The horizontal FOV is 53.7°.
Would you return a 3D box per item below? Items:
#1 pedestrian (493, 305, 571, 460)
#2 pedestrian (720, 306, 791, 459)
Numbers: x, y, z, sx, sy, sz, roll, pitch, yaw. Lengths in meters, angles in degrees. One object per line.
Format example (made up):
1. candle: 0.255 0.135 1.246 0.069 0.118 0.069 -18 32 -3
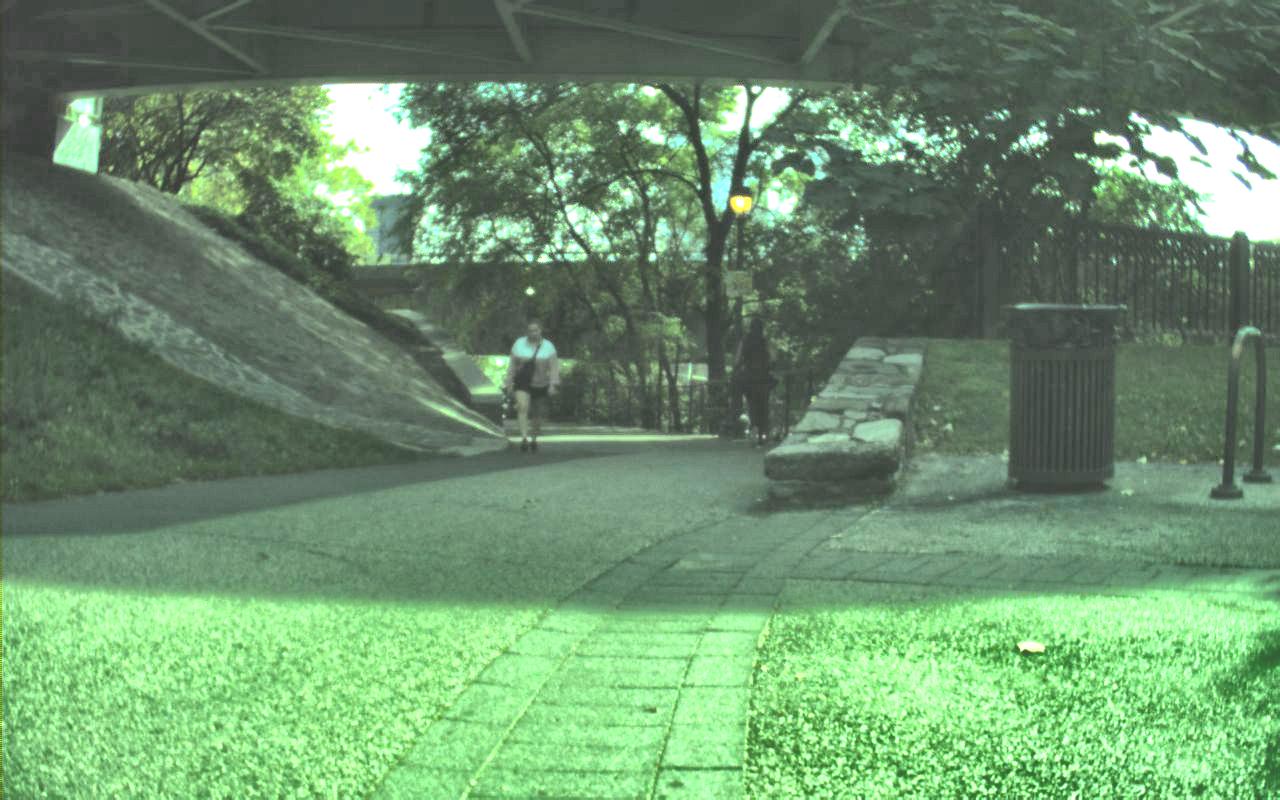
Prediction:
1. pedestrian: -1.223 -0.208 14.419 0.863 1.717 0.894 0 0 -3
2. pedestrian: 1.391 -0.218 15.301 0.823 1.794 0.877 0 0 3
